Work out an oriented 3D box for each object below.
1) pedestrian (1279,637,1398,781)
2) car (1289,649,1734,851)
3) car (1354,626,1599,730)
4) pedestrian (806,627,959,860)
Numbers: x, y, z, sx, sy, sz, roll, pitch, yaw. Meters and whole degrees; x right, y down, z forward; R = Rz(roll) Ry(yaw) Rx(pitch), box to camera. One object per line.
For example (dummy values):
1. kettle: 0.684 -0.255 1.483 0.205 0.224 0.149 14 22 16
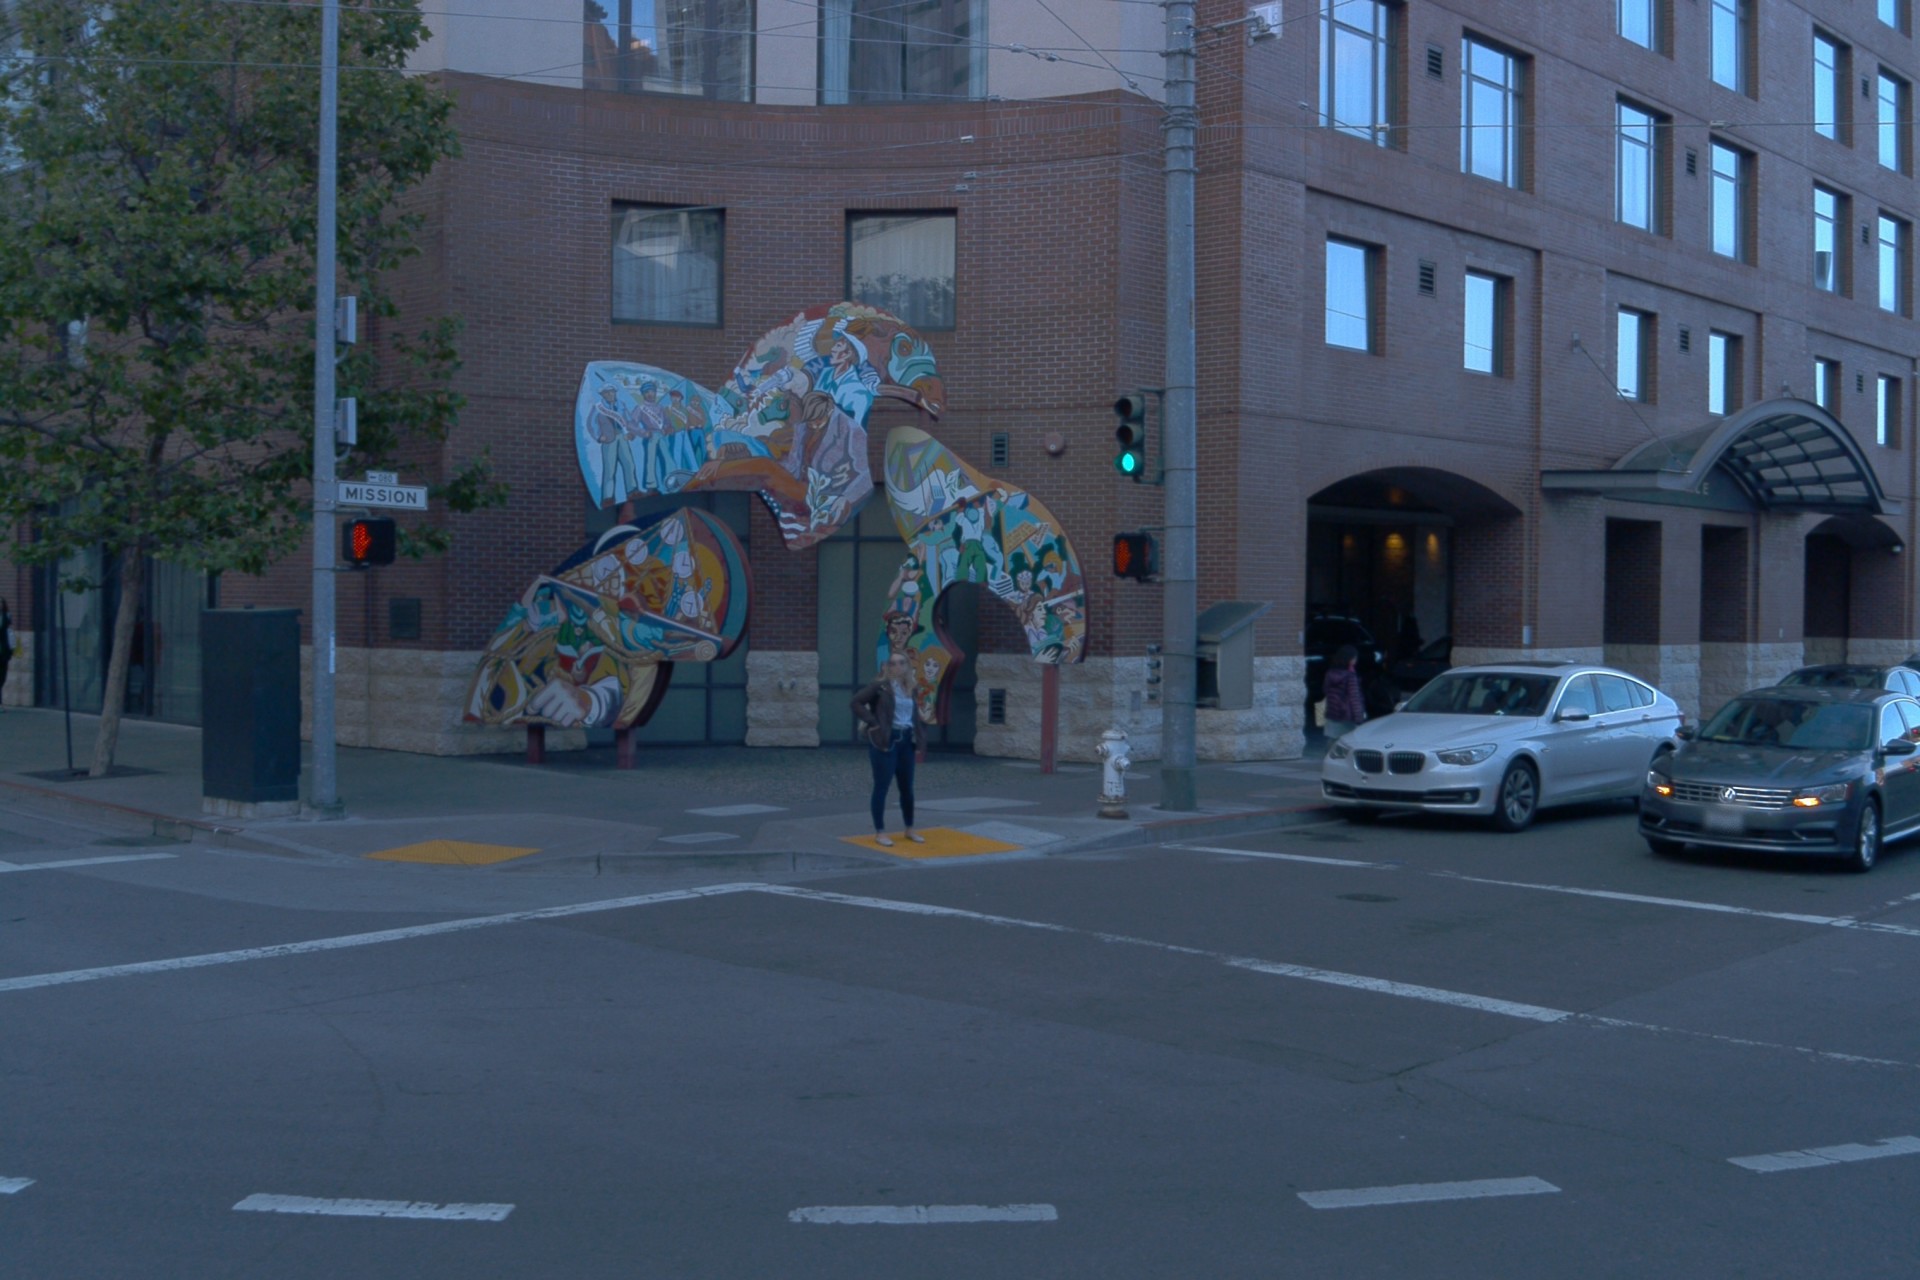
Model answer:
1. pedestrian: 4.310 0.763 23.524 0.934 1.584 0.956 -1 1 -38
2. car: 5.659 0.984 20.740 2.152 1.680 5.054 1 1 44
3. car: 8.798 0.578 34.857 2.054 1.600 4.898 1 1 40
4. pedestrian: -0.634 0.812 16.893 0.903 1.837 0.854 1 1 42
